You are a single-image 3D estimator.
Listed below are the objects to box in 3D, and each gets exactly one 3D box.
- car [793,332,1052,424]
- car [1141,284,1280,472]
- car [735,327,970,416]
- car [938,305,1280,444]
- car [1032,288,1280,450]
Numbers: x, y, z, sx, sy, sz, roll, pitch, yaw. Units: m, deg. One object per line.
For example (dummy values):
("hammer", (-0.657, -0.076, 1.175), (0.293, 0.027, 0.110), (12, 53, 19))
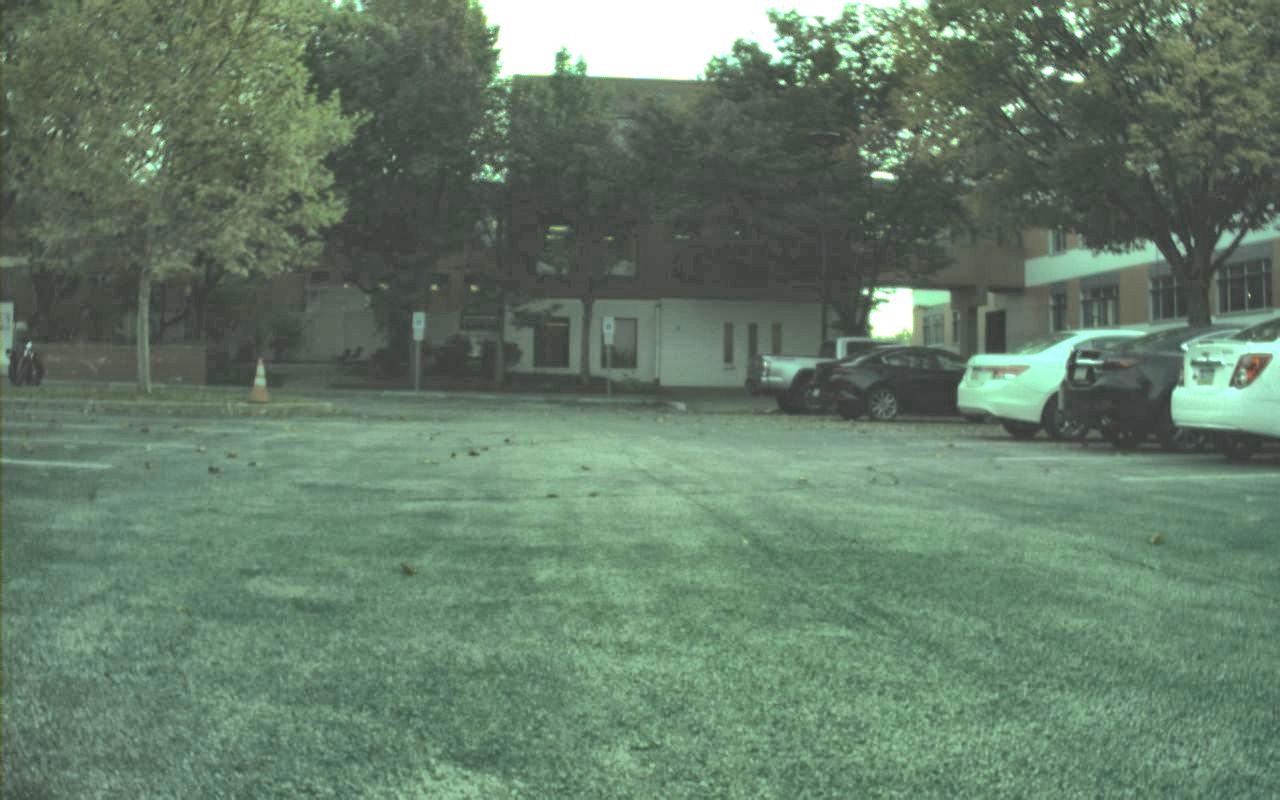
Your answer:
("car", (5.354, -0.402, 23.412), (4.579, 1.621, 1.977), (0, 1, -11))
("car", (7.178, -0.174, 10.871), (4.391, 1.590, 1.903), (0, 1, -9))
("car", (4.826, -0.621, 28.488), (5.010, 1.917, 2.098), (0, 1, -8))
("car", (6.359, -0.304, 15.713), (4.628, 1.650, 1.971), (0, 1, -3))
("car", (6.840, -0.308, 13.247), (4.503, 1.631, 1.946), (0, 1, -6))
